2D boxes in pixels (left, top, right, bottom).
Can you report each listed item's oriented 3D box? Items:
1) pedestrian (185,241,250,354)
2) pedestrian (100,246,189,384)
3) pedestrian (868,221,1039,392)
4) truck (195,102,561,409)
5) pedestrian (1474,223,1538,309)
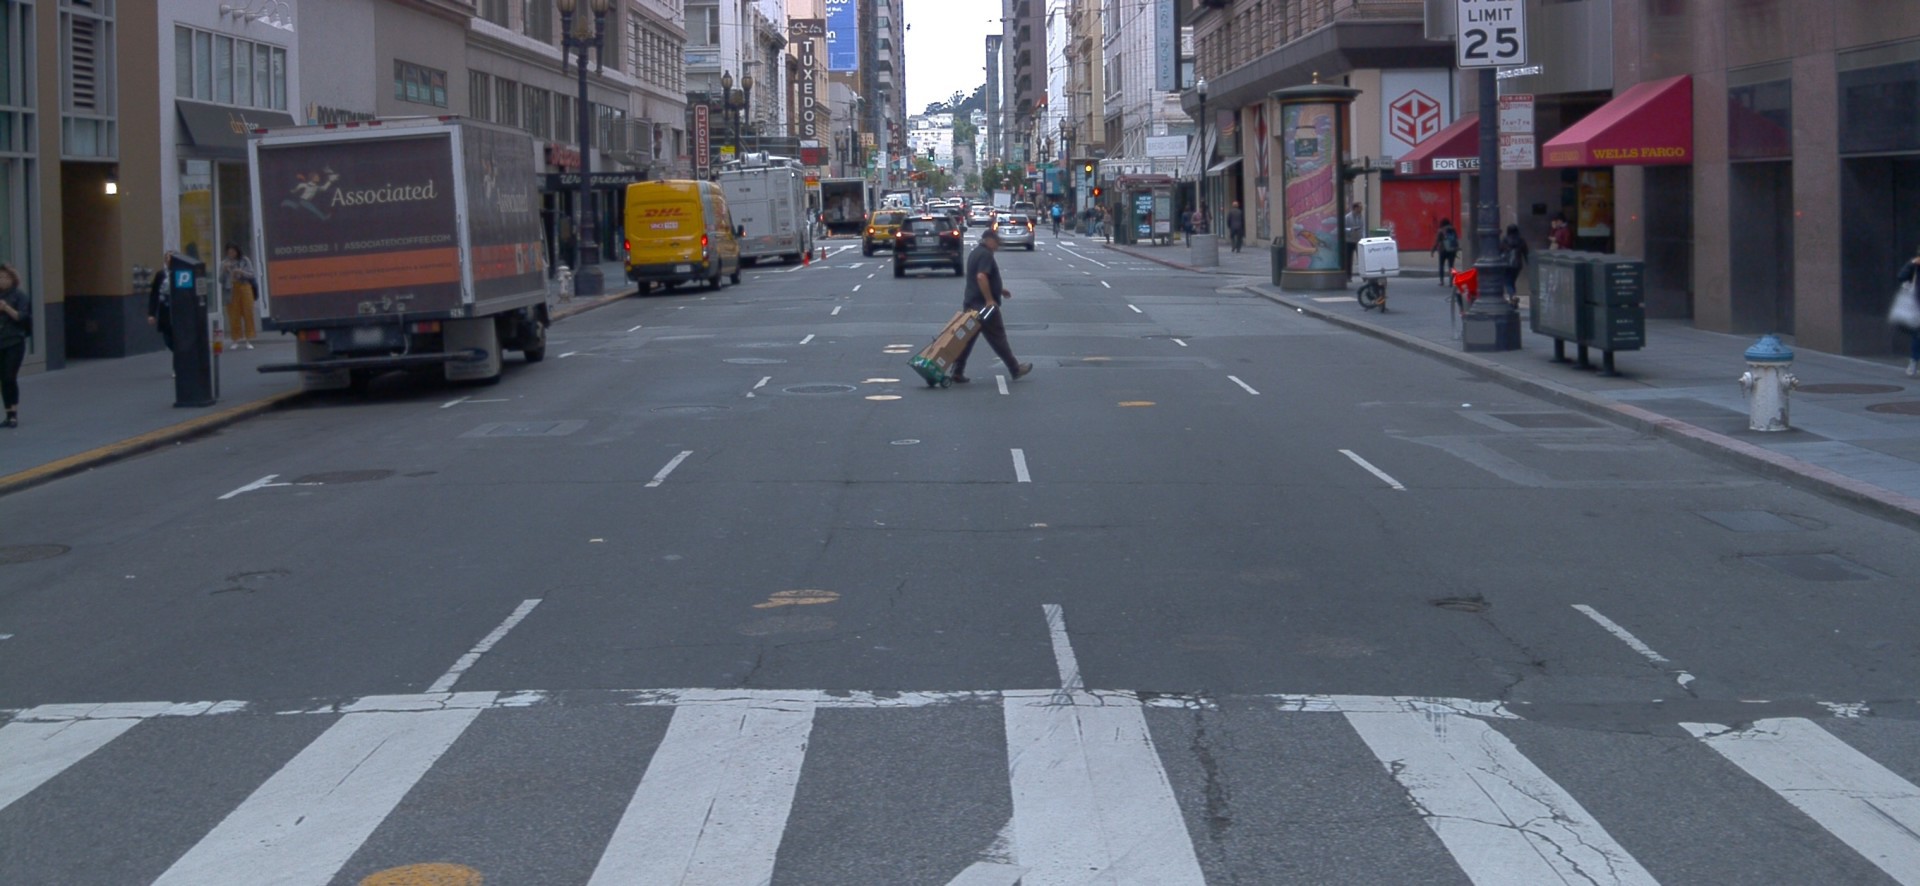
[{"bbox_3d":[-11.299,-2.222,31.549,0.804,1.687,0.747,0,2,-9],"label":"pedestrian"},{"bbox_3d":[-10.434,-1.651,26.517,0.774,1.717,0.927,0,2,-1],"label":"pedestrian"},{"bbox_3d":[-0.079,-1.642,24.387,1.744,1.926,1.056,-2,3,-24],"label":"pedestrian"},{"bbox_3d":[-7.122,-2.460,26.403,2.784,3.405,6.688,0,5,0],"label":"truck"},{"bbox_3d":[9.376,-3.048,35.577,0.909,1.467,0.809,0,2,2],"label":"pedestrian"}]
